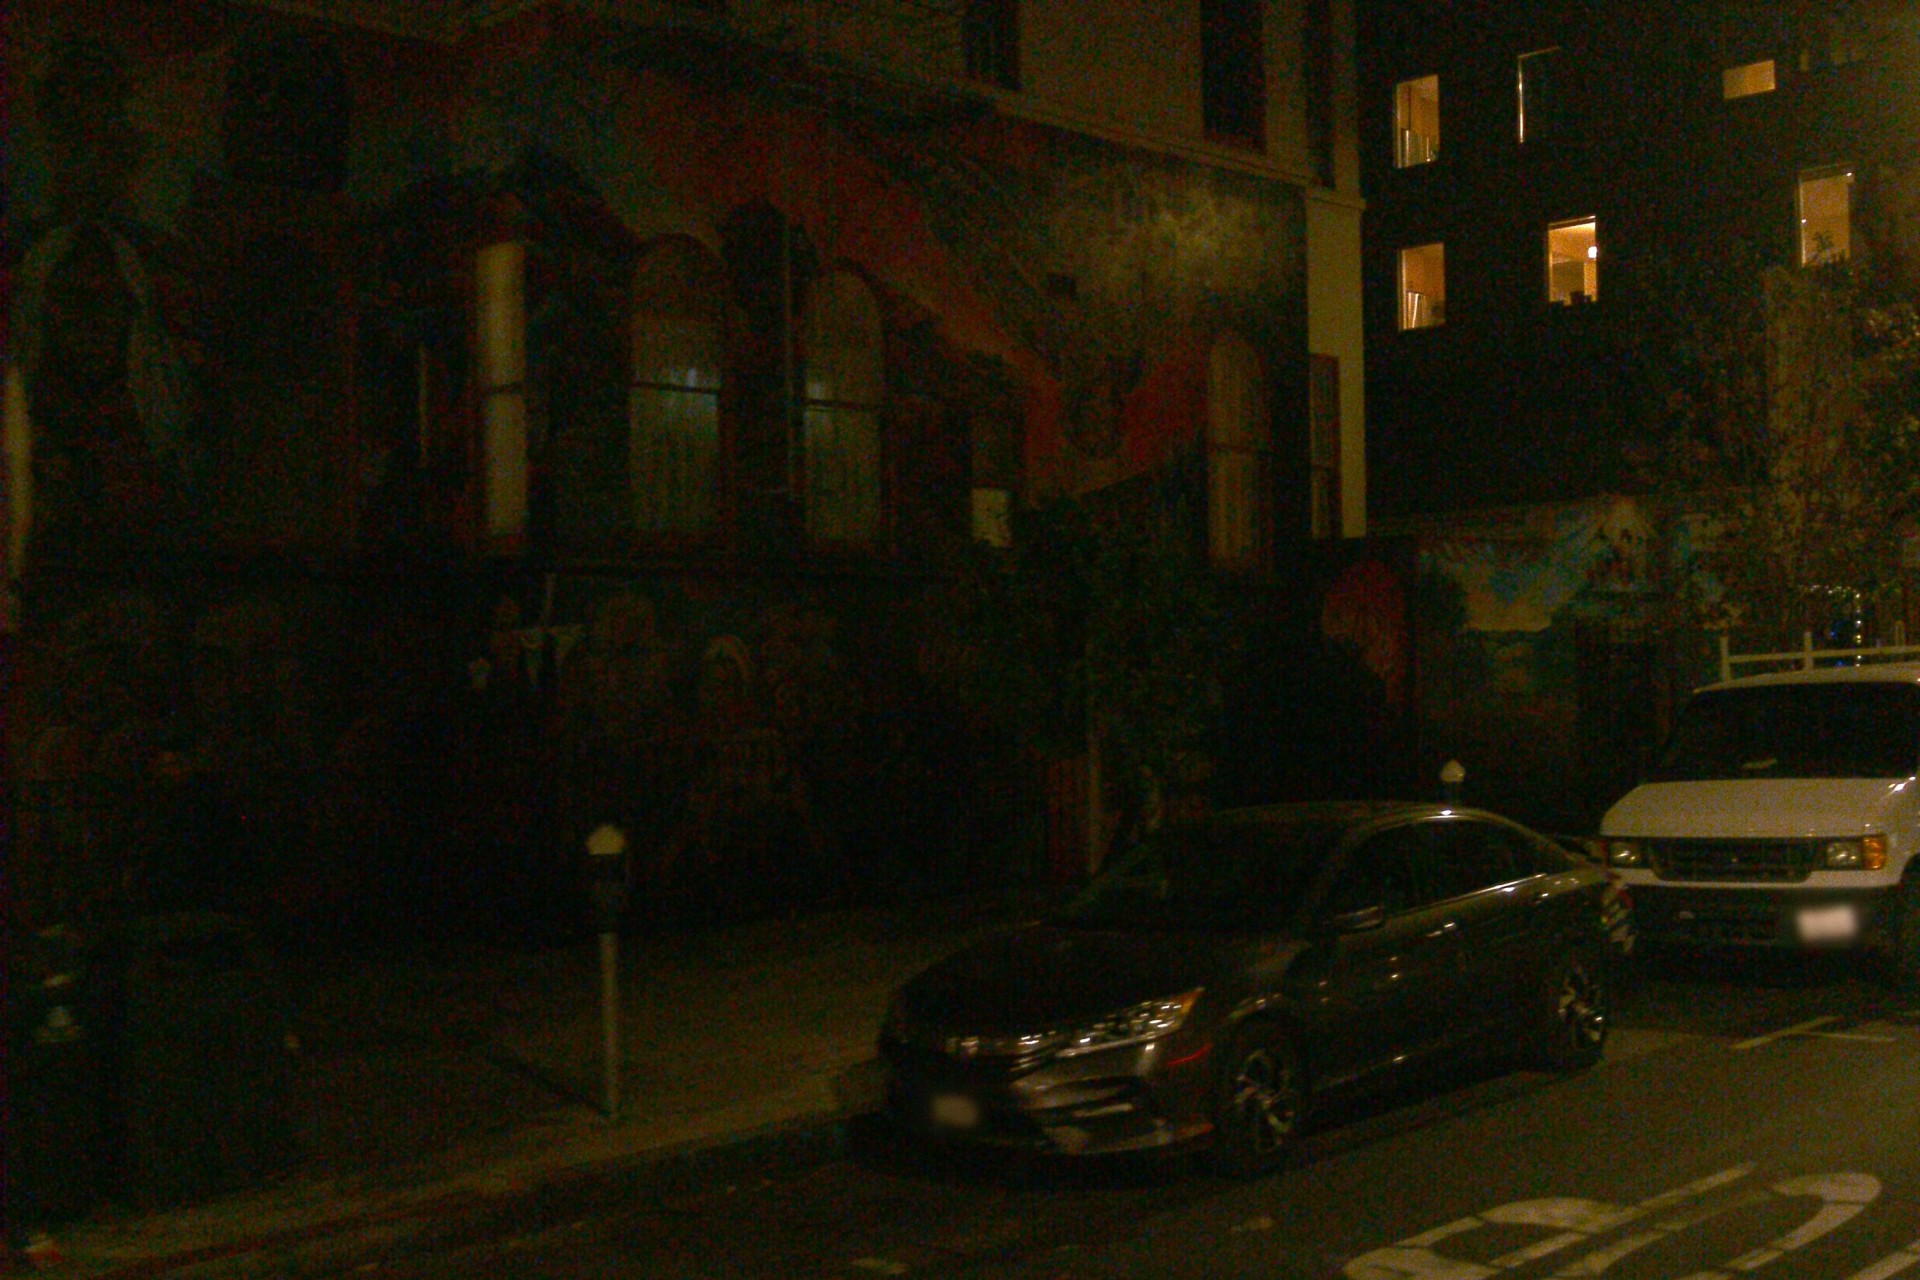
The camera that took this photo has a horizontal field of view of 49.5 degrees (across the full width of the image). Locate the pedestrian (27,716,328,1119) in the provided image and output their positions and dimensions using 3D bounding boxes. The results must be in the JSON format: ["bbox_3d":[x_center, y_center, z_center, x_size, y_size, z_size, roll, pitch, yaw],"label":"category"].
[{"bbox_3d":[-3.914,1.322,10.424,1.008,1.830,1.024,1,0,40],"label":"pedestrian"}]

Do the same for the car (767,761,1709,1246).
[{"bbox_3d":[1.635,1.524,10.401,2.097,1.570,4.998,1,0,44],"label":"car"}]
